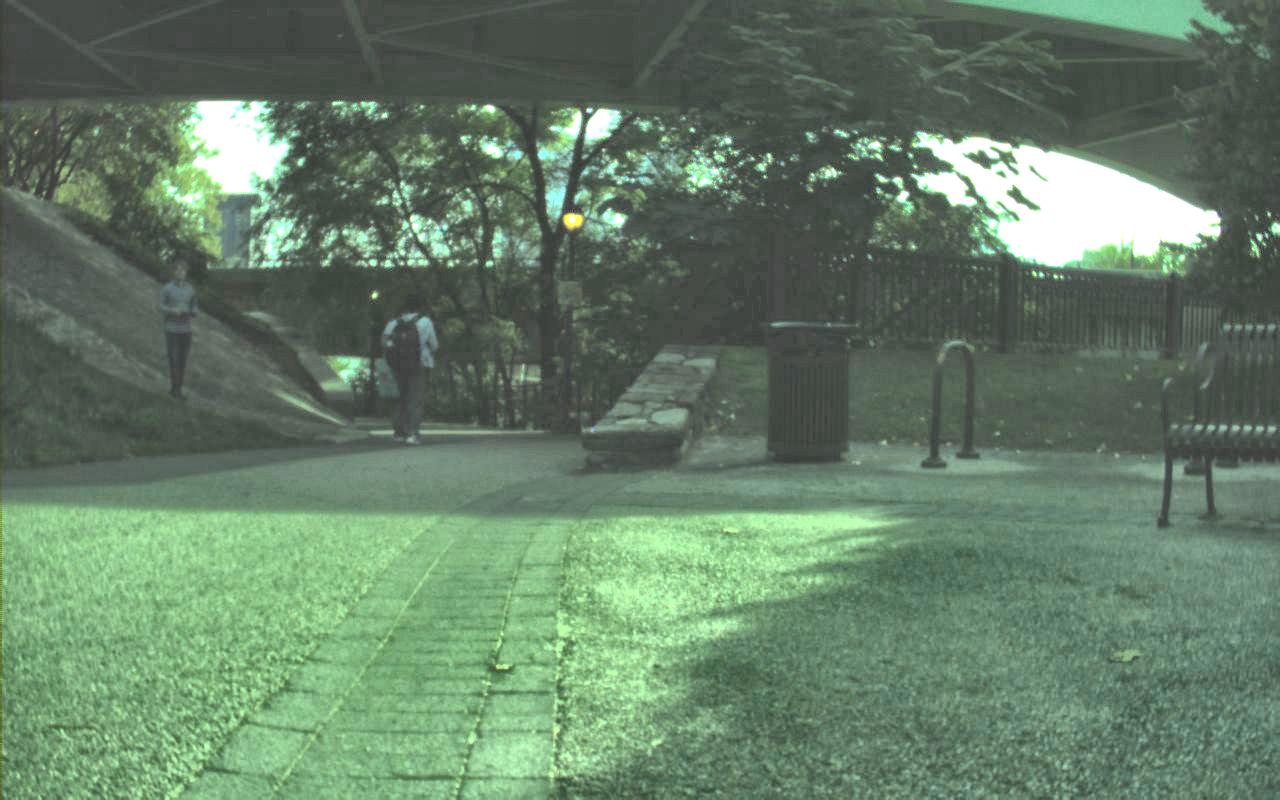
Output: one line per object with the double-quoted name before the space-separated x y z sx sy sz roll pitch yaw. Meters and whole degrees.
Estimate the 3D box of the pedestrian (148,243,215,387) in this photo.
"pedestrian" -6.148 -1.091 15.862 0.741 1.869 0.723 0 0 -37

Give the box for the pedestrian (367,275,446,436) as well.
"pedestrian" -2.585 -0.480 13.786 0.853 1.725 0.880 0 0 -10
